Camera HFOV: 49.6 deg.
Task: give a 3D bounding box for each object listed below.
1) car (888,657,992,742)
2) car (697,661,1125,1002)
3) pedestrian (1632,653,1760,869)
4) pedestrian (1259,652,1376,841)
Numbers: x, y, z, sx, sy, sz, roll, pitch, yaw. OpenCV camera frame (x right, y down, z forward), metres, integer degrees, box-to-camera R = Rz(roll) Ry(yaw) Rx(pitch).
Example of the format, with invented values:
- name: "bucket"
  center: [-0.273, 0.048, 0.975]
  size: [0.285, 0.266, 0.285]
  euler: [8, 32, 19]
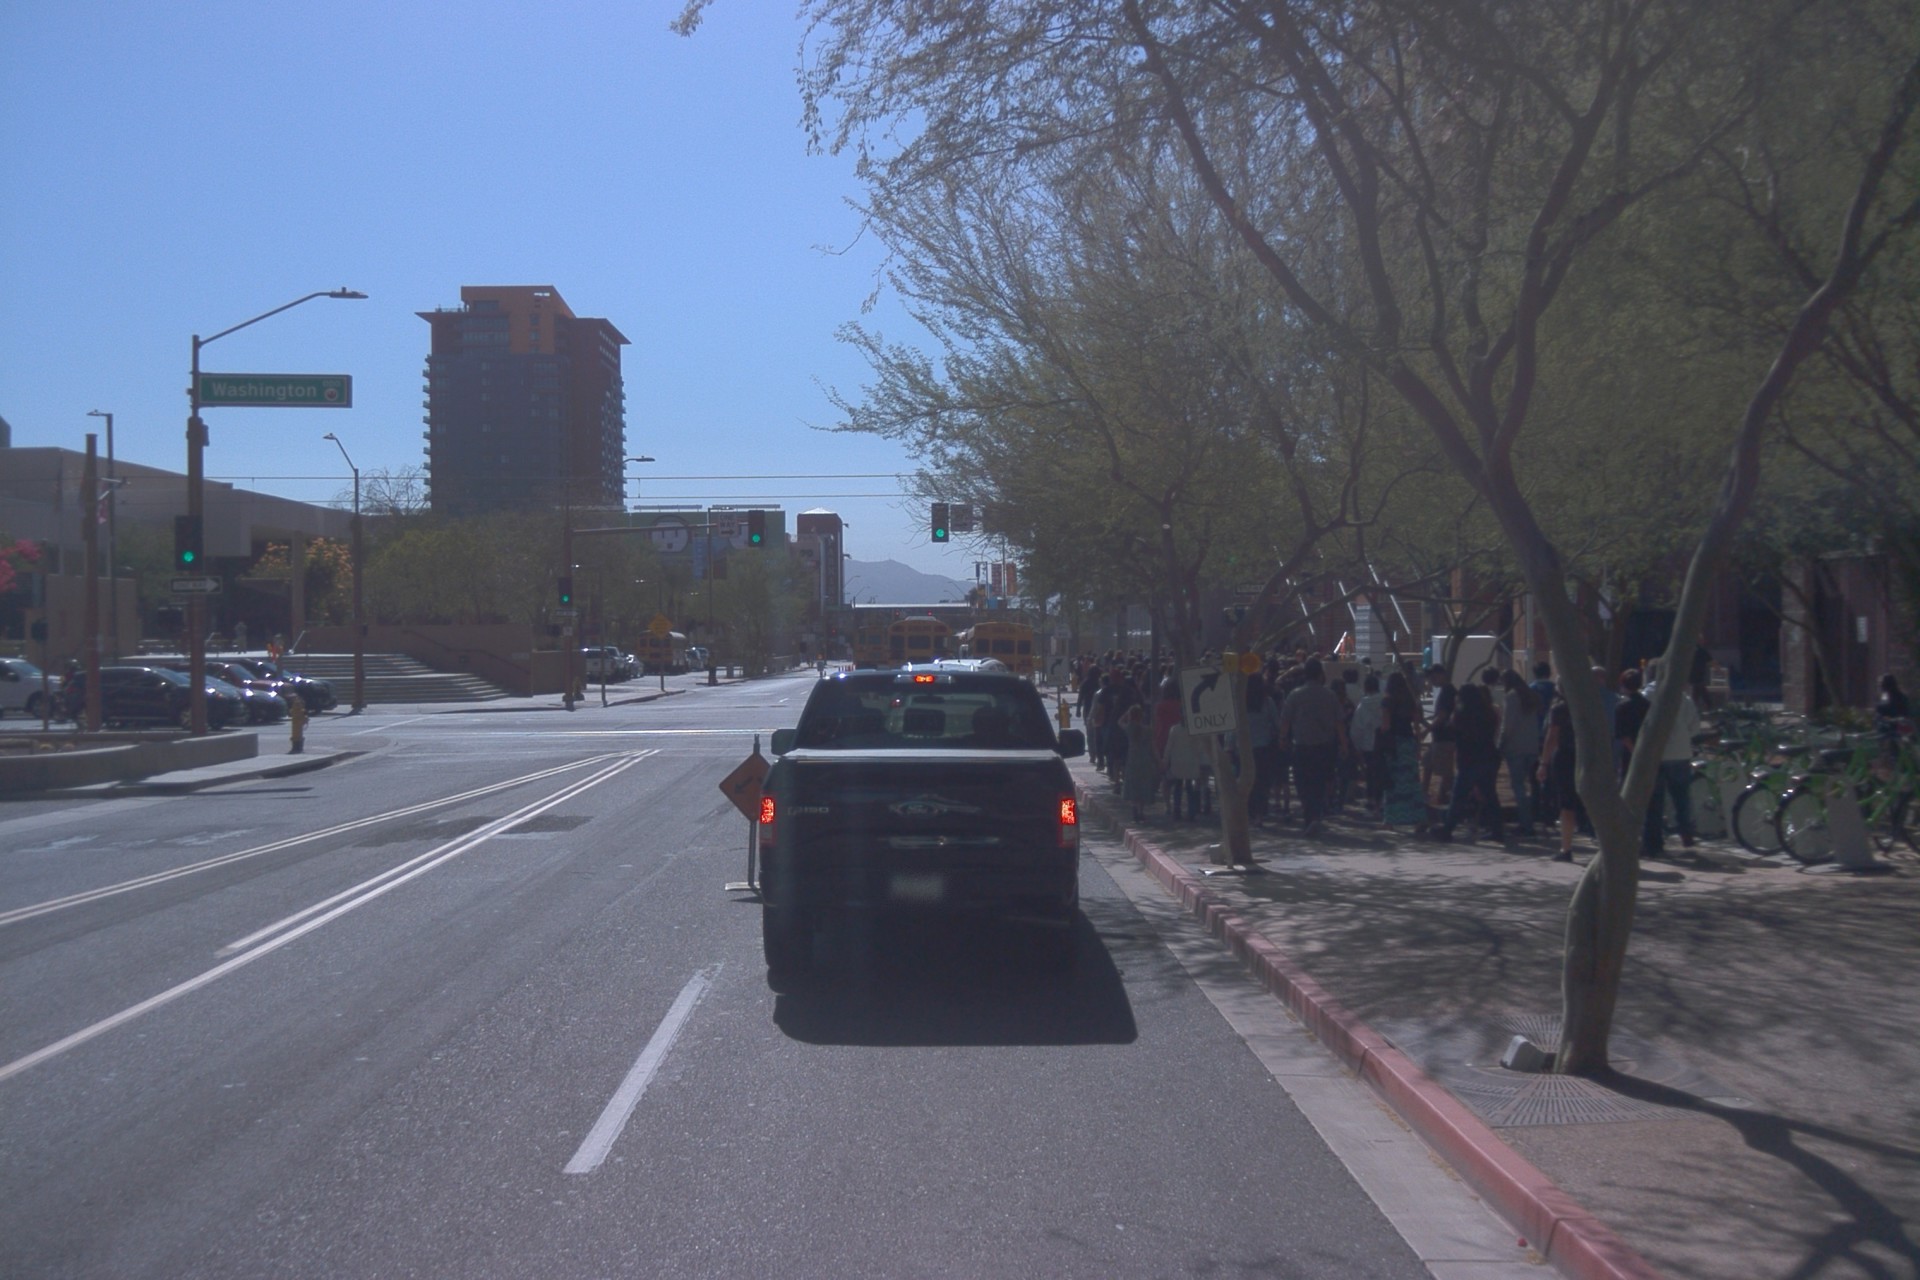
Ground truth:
- name: "car"
  center: [-0.308, 1.024, 37.488]
  size: [1.753, 1.430, 4.270]
  euler: [0, 0, 1]
- name: "car"
  center: [-0.252, 1.140, 14.793]
  size: [2.487, 1.950, 5.329]
  euler: [0, 0, 1]
- name: "pedestrian"
  center: [6.551, 1.058, 18.554]
  size: [0.835, 1.880, 0.792]
  euler: [0, 0, -2]
- name: "pedestrian"
  center: [3.652, 1.072, 21.306]
  size: [0.959, 1.900, 0.881]
  euler: [0, 0, -6]
